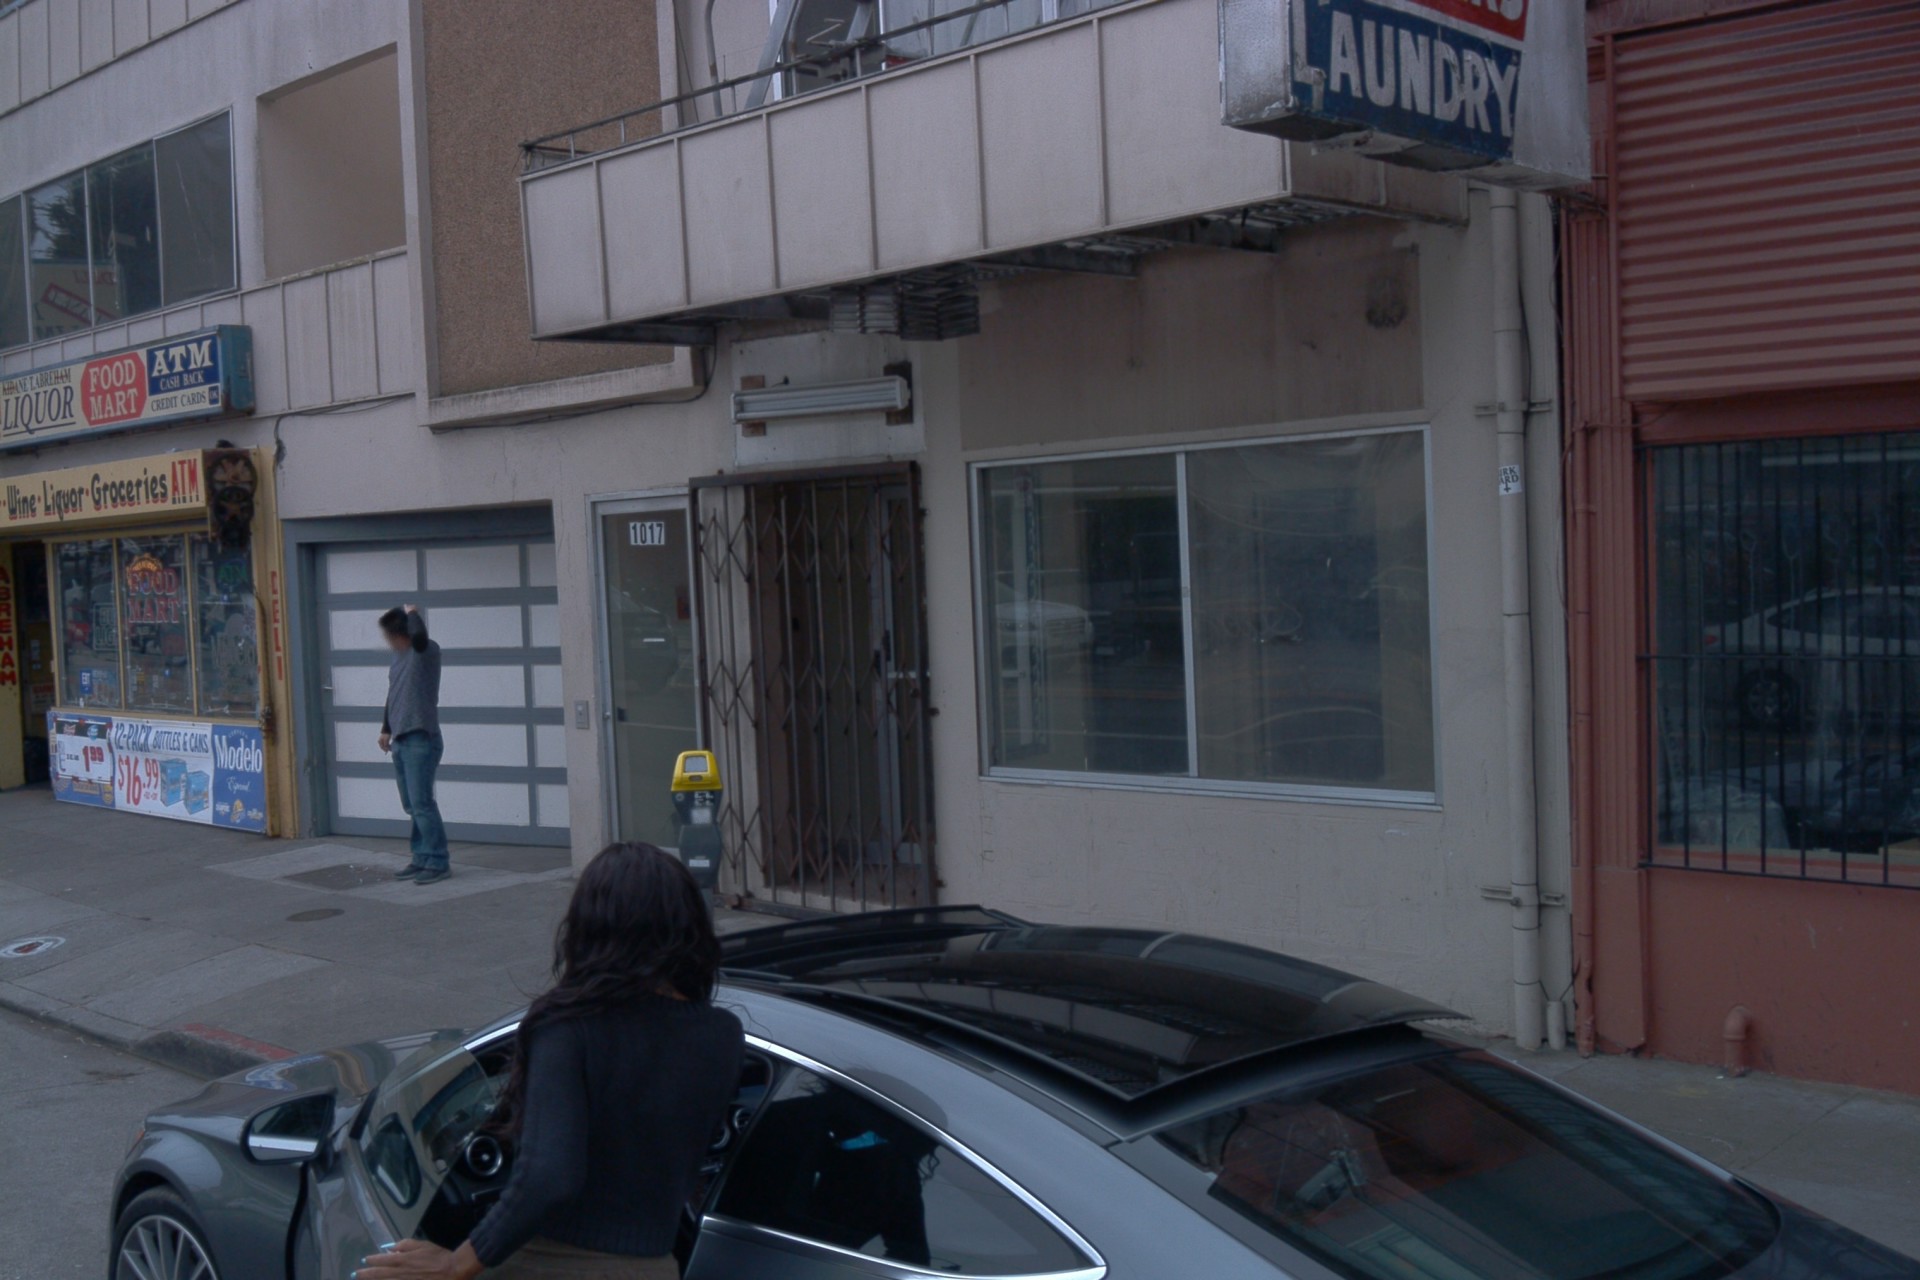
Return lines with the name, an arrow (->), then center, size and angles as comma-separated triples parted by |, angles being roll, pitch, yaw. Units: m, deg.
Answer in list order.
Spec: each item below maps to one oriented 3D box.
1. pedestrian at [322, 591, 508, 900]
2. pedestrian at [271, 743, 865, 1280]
pedestrian -> -3.373, 0.618, 12.775 | 0.800, 1.820, 0.862 | -1, 1, -42
pedestrian -> -0.740, 1.151, 3.685 | 0.847, 1.860, 0.983 | 0, 1, -23
